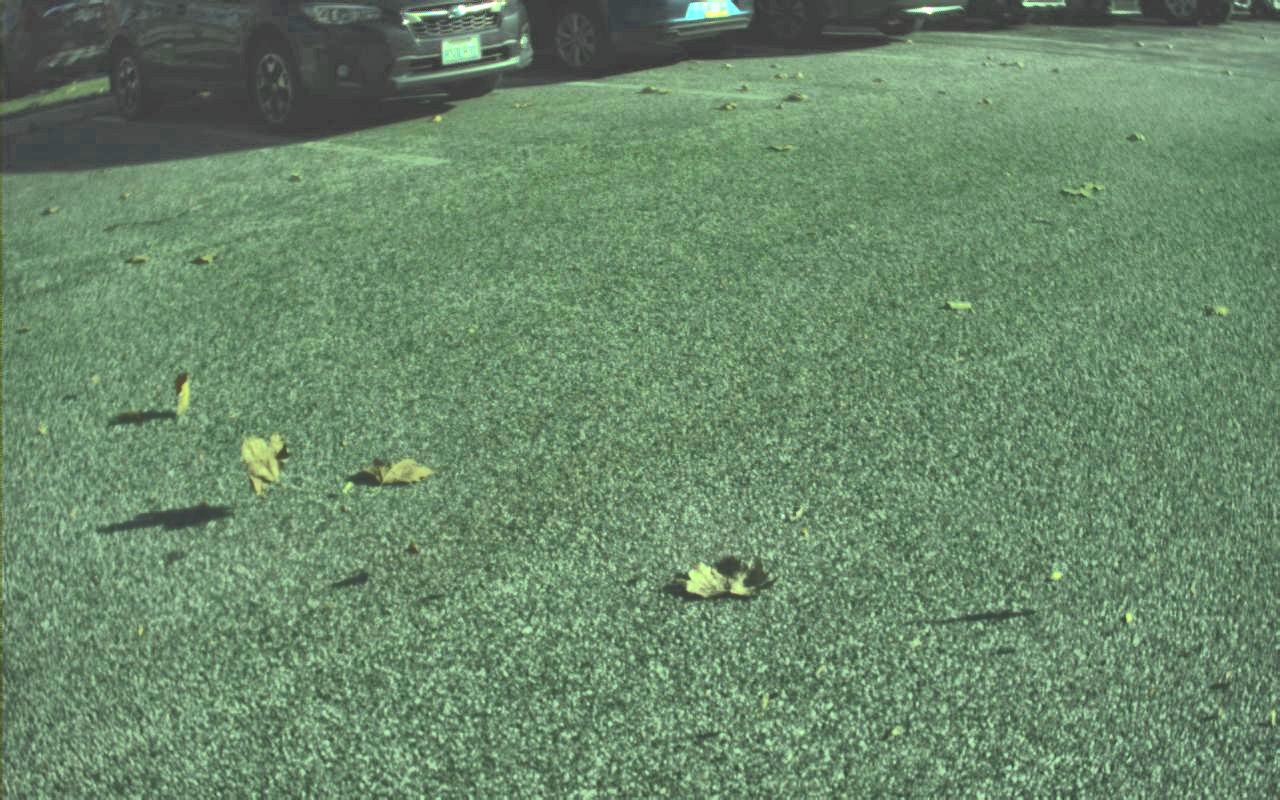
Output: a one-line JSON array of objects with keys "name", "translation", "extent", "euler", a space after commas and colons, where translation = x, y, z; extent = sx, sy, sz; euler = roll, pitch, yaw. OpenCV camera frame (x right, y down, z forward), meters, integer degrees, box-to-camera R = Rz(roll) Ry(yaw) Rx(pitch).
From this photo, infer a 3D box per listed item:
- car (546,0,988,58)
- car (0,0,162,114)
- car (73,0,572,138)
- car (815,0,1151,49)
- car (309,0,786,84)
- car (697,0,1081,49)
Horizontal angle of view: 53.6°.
[{"name": "car", "translation": [1.150, -4.268, 12.328], "extent": [1.940, 1.497, 4.470], "euler": [-14, 21, -38]}, {"name": "car", "translation": [-8.336, -4.777, 14.614], "extent": [4.592, 1.643, 1.991], "euler": [12, 21, 37]}, {"name": "car", "translation": [-2.756, -2.878, 9.035], "extent": [4.480, 1.502, 1.940], "euler": [15, 22, 42]}, {"name": "car", "translation": [4.715, -5.731, 16.221], "extent": [1.938, 1.567, 4.411], "euler": [-16, 22, -41]}, {"name": "car", "translation": [-1.025, -3.645, 10.887], "extent": [4.327, 1.504, 1.915], "euler": [14, 22, 41]}, {"name": "car", "translation": [2.957, -5.083, 14.451], "extent": [1.947, 1.525, 4.433], "euler": [-16, 22, -41]}]
